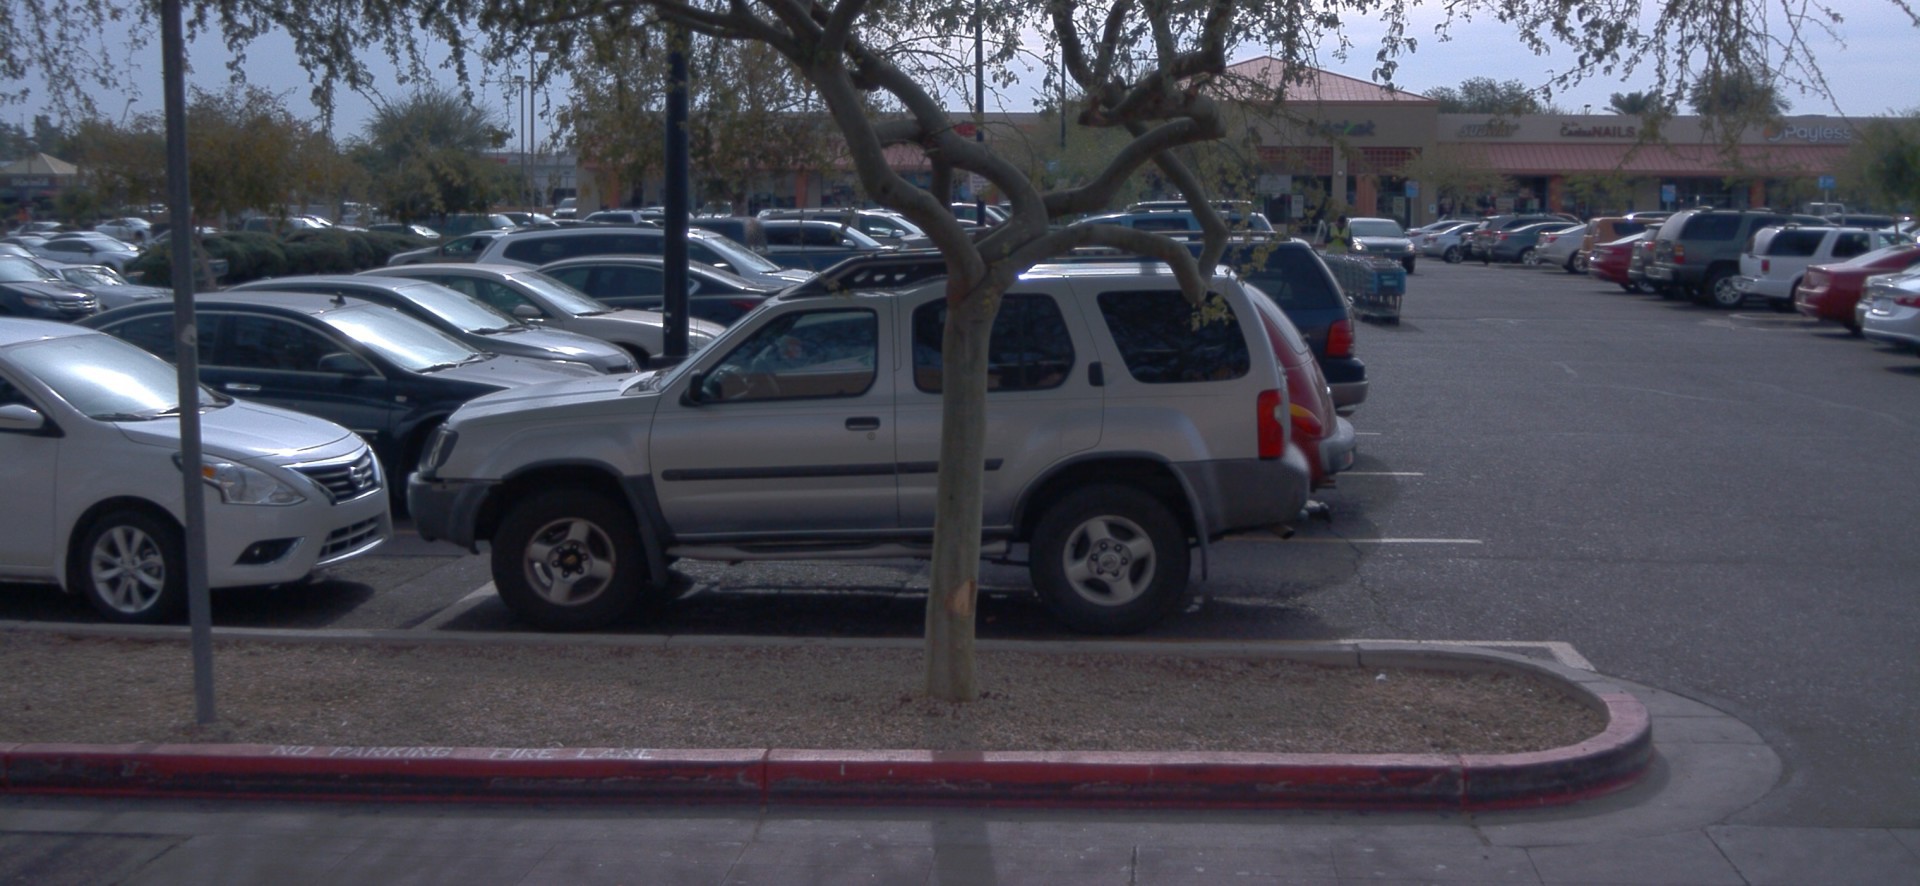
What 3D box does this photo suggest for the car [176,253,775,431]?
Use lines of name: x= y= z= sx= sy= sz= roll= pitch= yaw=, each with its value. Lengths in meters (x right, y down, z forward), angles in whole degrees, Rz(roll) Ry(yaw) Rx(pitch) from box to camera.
car: x=-4.606 y=-1.048 z=20.401 sx=5.224 sy=1.576 sz=2.367 roll=1 pitch=4 yaw=4

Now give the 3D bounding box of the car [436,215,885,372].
car: x=-3.661 y=-1.918 z=26.238 sx=5.217 sy=1.846 sz=2.411 roll=1 pitch=4 yaw=2

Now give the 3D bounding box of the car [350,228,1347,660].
car: x=-0.486 y=-0.112 z=10.921 sx=4.753 sy=1.977 sz=2.085 roll=1 pitch=3 yaw=4

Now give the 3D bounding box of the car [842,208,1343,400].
car: x=1.500 y=-1.579 z=22.962 sx=5.234 sy=1.946 sz=2.414 roll=1 pitch=3 yaw=7

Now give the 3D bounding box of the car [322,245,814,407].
car: x=-4.232 y=-1.346 z=23.056 sx=4.935 sy=1.657 sz=2.206 roll=1 pitch=4 yaw=4

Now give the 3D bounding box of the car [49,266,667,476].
car: x=-4.944 y=-0.668 z=17.517 sx=4.512 sy=1.577 sz=2.113 roll=1 pitch=4 yaw=5

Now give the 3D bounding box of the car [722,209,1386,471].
car: x=0.754 y=-0.900 z=16.974 sx=5.030 sy=1.937 sz=2.333 roll=1 pitch=3 yaw=2

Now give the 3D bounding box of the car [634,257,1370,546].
car: x=0.342 y=-0.378 z=14.042 sx=4.542 sy=1.696 sz=2.400 roll=1 pitch=4 yaw=5

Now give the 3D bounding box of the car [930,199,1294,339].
car: x=2.326 y=-2.655 z=31.491 sx=5.263 sy=1.986 sz=2.470 roll=1 pitch=3 yaw=6

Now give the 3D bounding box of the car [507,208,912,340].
car: x=-3.746 y=-2.624 z=32.010 sx=5.774 sy=1.896 sz=2.581 roll=1 pitch=4 yaw=4
